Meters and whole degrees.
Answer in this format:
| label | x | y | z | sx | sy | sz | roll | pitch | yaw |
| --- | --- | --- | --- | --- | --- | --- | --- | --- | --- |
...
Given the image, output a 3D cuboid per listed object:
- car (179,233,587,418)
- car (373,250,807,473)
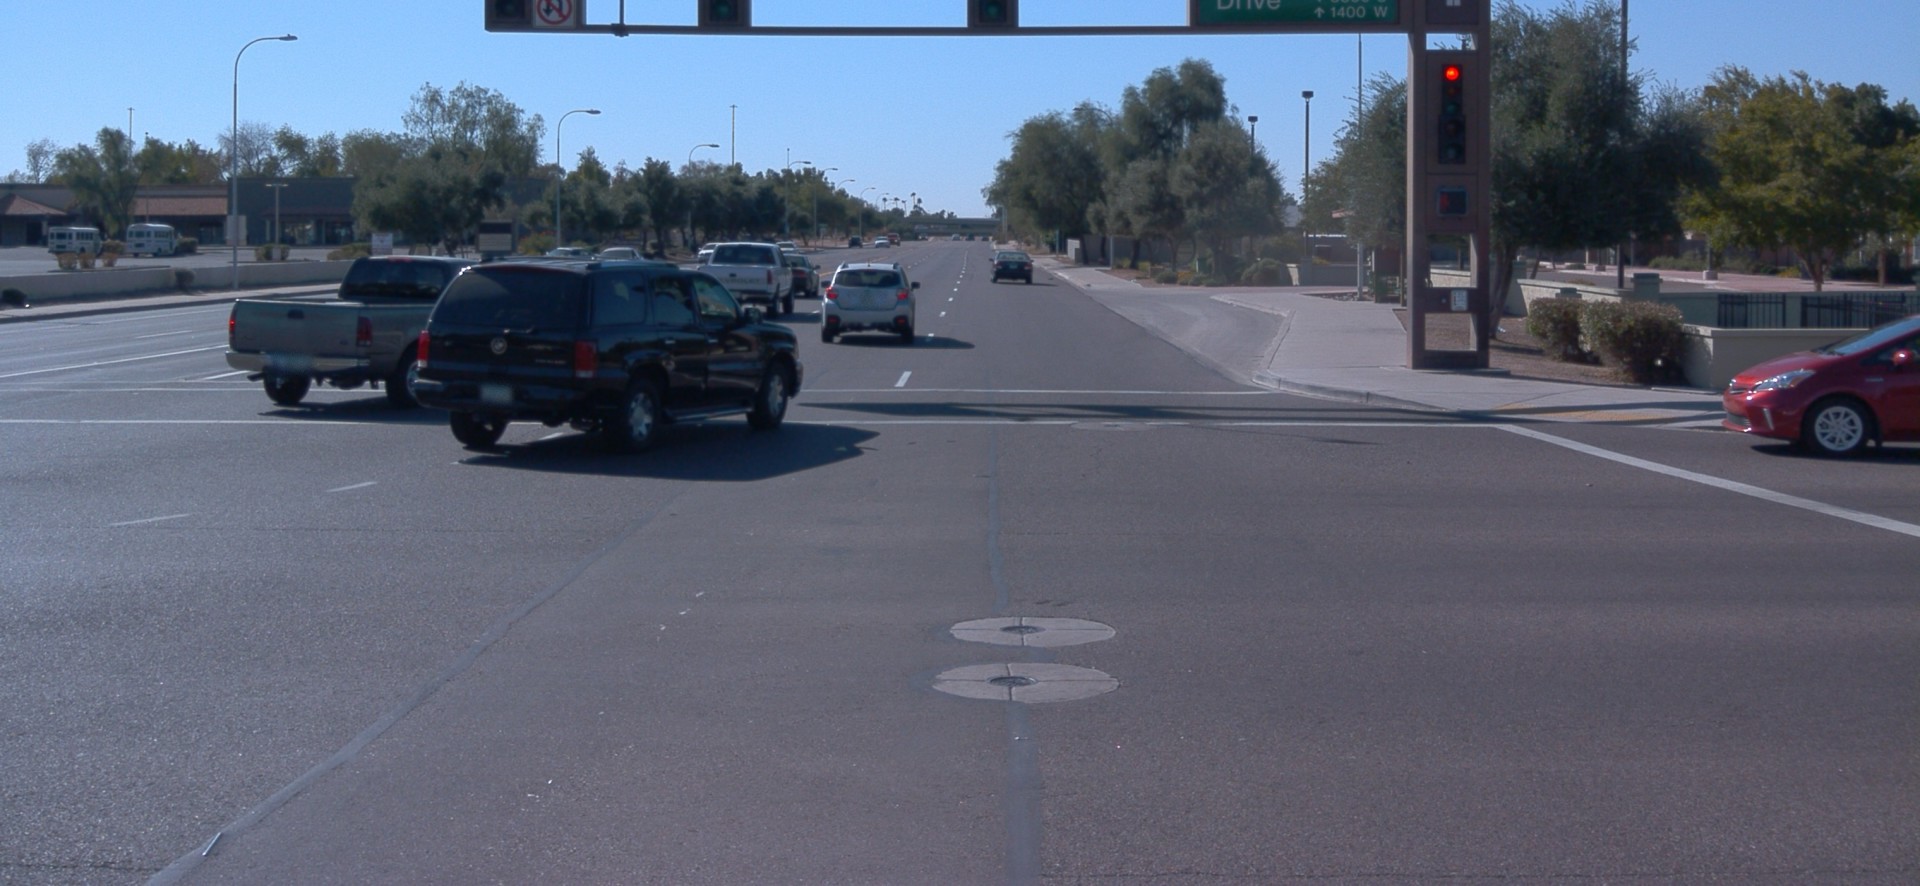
| label | x | y | z | sx | sy | sz | roll | pitch | yaw |
| --- | --- | --- | --- | --- | --- | --- | --- | --- | --- |
| car | -7.167 | -1.642 | 26.625 | 2.265 | 2.071 | 5.868 | 1 | 5 | 16 |
| car | -3.633 | -0.995 | 21.556 | 2.202 | 1.962 | 5.078 | 1 | 5 | 19 |
